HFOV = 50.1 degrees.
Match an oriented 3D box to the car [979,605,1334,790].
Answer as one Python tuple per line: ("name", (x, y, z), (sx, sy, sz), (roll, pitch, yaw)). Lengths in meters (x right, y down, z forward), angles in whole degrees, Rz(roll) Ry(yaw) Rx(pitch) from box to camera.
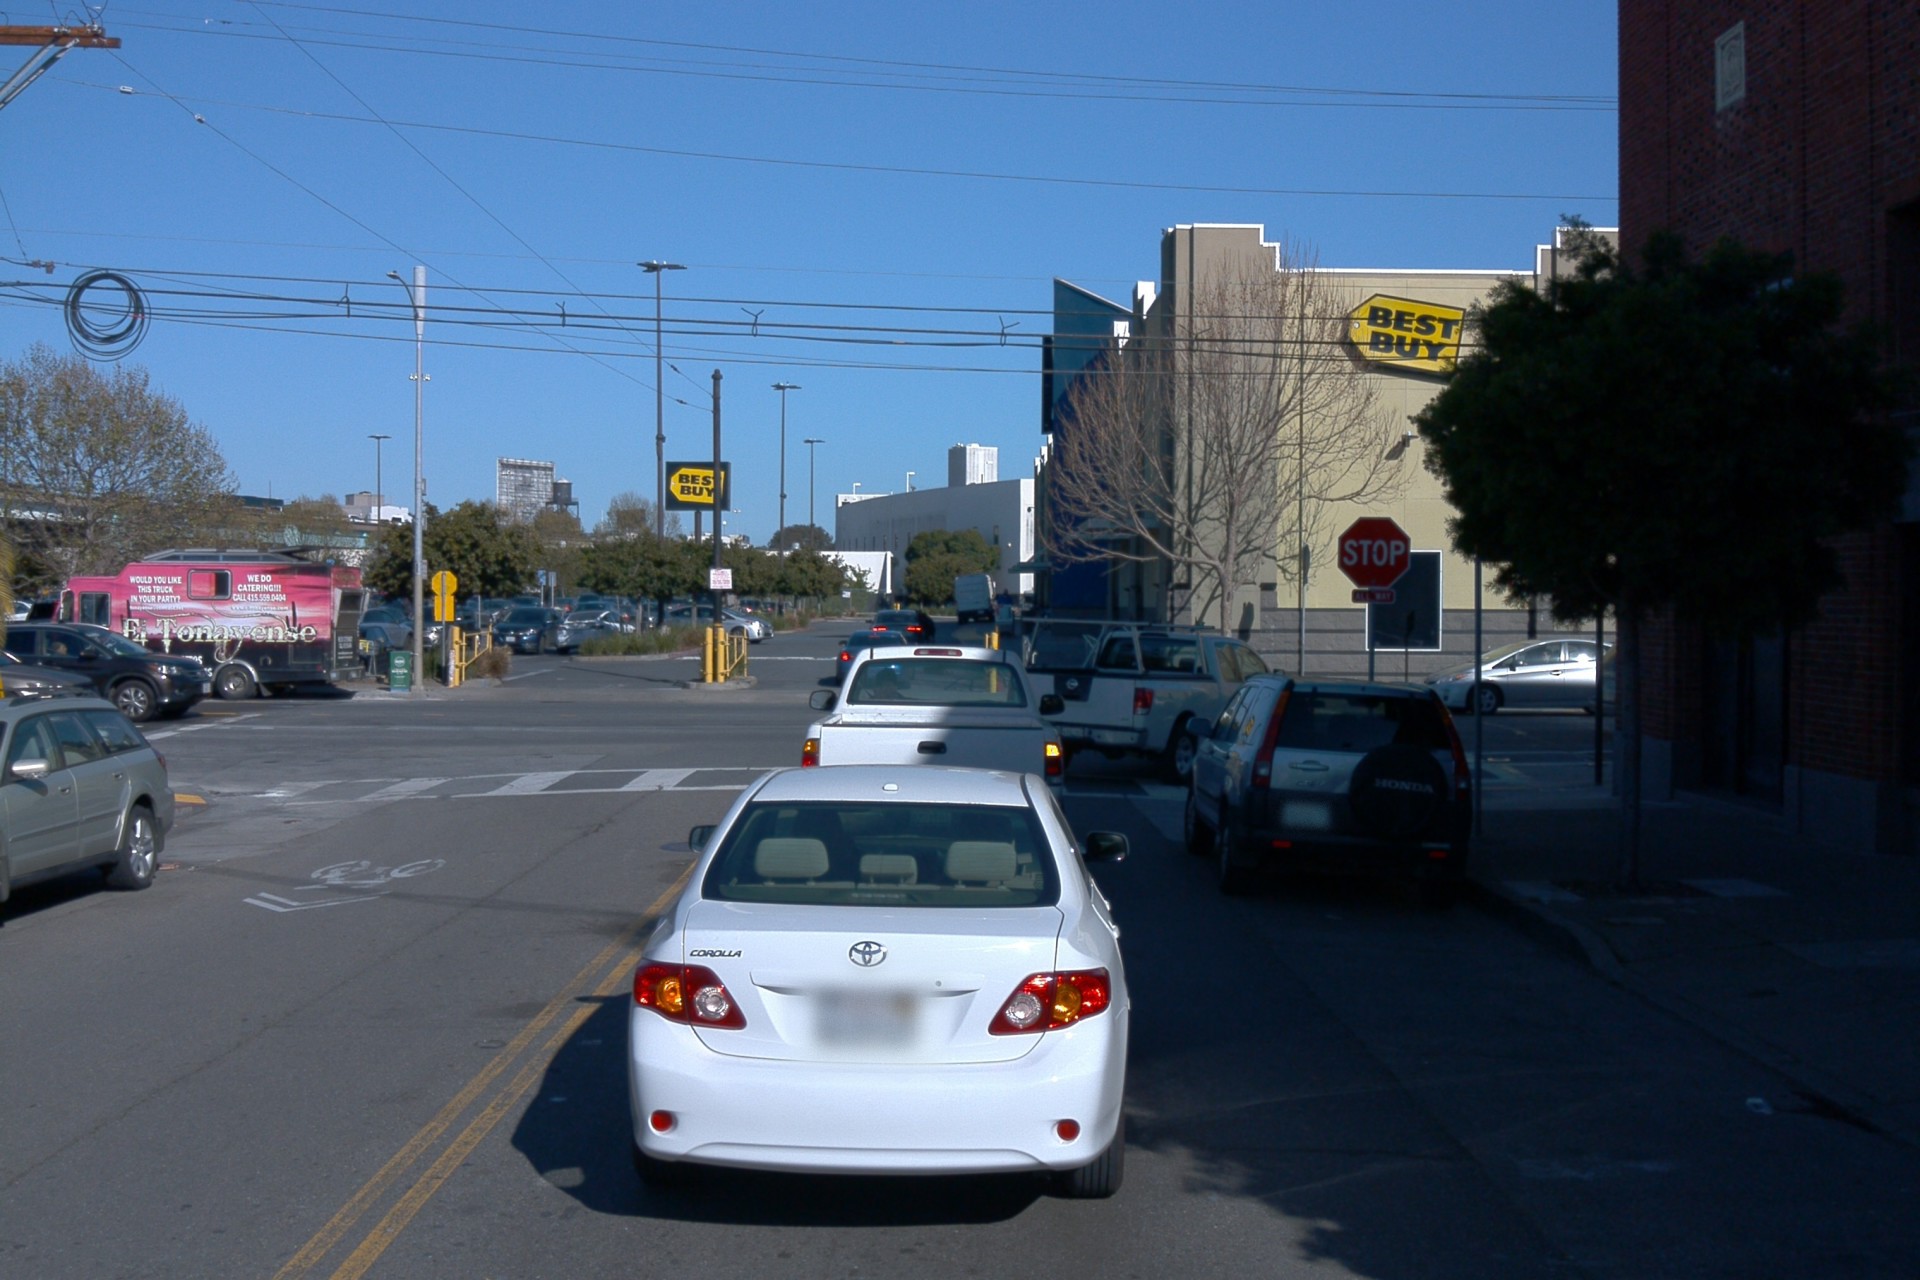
("car", (2.741, 0.653, 27.165), (2.389, 2.140, 5.550), (2, 1, 32))

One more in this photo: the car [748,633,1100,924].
("car", (-0.229, 0.939, 16.886), (2.386, 1.880, 5.557), (1, 1, 0))

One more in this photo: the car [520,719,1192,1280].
("car", (-0.270, 1.261, 8.584), (2.045, 1.580, 4.504), (1, 1, 1))

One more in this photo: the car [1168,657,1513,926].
("car", (2.858, 1.070, 16.447), (2.017, 1.730, 4.285), (1, 1, 1))
